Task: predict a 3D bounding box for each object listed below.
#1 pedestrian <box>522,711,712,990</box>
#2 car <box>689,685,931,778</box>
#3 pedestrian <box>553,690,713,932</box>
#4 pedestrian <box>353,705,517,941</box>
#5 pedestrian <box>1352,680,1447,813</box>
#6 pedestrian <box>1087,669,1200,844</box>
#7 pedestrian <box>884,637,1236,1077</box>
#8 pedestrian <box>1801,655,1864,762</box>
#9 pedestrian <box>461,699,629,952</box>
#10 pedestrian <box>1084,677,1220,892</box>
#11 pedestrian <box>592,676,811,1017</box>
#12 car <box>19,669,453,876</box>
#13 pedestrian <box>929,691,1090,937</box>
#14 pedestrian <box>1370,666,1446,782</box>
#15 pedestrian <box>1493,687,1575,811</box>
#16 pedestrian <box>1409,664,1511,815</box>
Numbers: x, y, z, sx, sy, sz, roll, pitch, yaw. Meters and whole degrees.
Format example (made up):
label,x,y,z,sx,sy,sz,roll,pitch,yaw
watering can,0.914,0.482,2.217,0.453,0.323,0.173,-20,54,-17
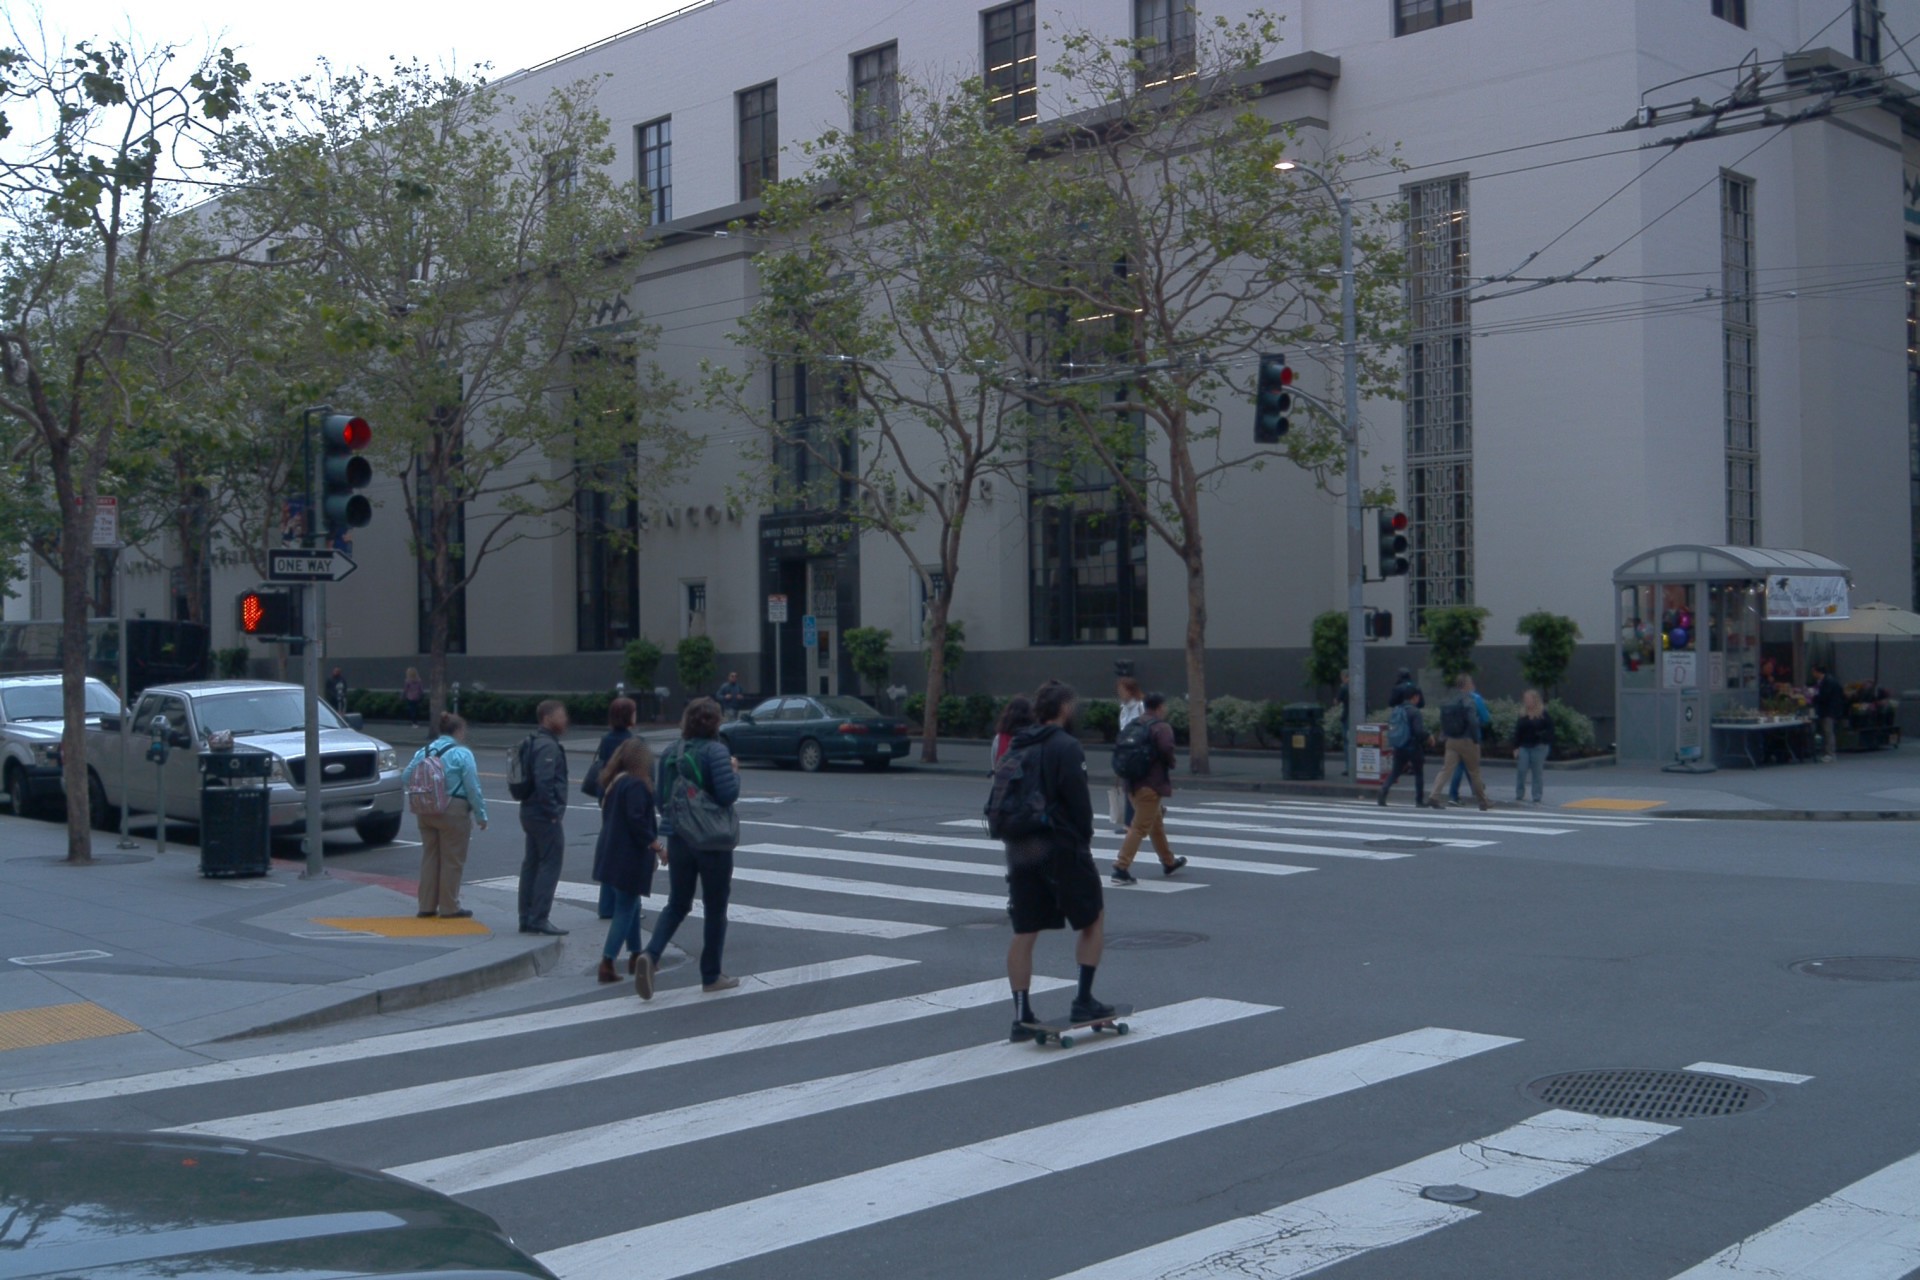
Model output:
label,x,y,z,sx,sy,sz,roll,pitch,yaw
pedestrian,-2.300,1.379,13.888,0.882,1.741,0.892,0,1,29
car,-2.879,1.670,38.793,2.016,1.480,4.678,-1,1,-44
pedestrian,-2.661,1.359,16.831,0.828,1.856,0.973,1,1,42
pedestrian,-4.190,1.429,16.520,0.830,1.767,1.012,0,1,21
pedestrian,5.906,1.407,27.713,0.974,1.706,0.840,-1,1,-43
pedestrian,1.956,1.224,22.065,0.939,1.800,0.808,0,1,-23
pedestrian,0.541,1.056,10.963,1.544,2.118,1.097,-1,1,-42
pedestrian,14.668,1.134,34.691,0.751,1.746,0.848,1,1,42
pedestrian,-3.181,1.387,15.831,0.942,1.809,0.849,-1,1,-44
pedestrian,1.668,1.222,17.913,0.964,1.771,0.716,-1,1,-42
pedestrian,-1.592,1.228,12.855,0.843,1.969,1.166,0,1,26
car,-8.544,1.391,23.966,2.501,1.940,6.007,-1,1,-44
pedestrian,0.385,1.283,15.675,0.796,1.739,1.044,0,1,32
pedestrian,7.134,1.323,32.904,0.756,1.796,0.984,0,1,-23
pedestrian,8.000,1.500,28.747,0.894,1.646,0.735,-1,1,-42
pedestrian,6.508,1.276,26.879,1.051,1.896,0.762,-1,1,-30
